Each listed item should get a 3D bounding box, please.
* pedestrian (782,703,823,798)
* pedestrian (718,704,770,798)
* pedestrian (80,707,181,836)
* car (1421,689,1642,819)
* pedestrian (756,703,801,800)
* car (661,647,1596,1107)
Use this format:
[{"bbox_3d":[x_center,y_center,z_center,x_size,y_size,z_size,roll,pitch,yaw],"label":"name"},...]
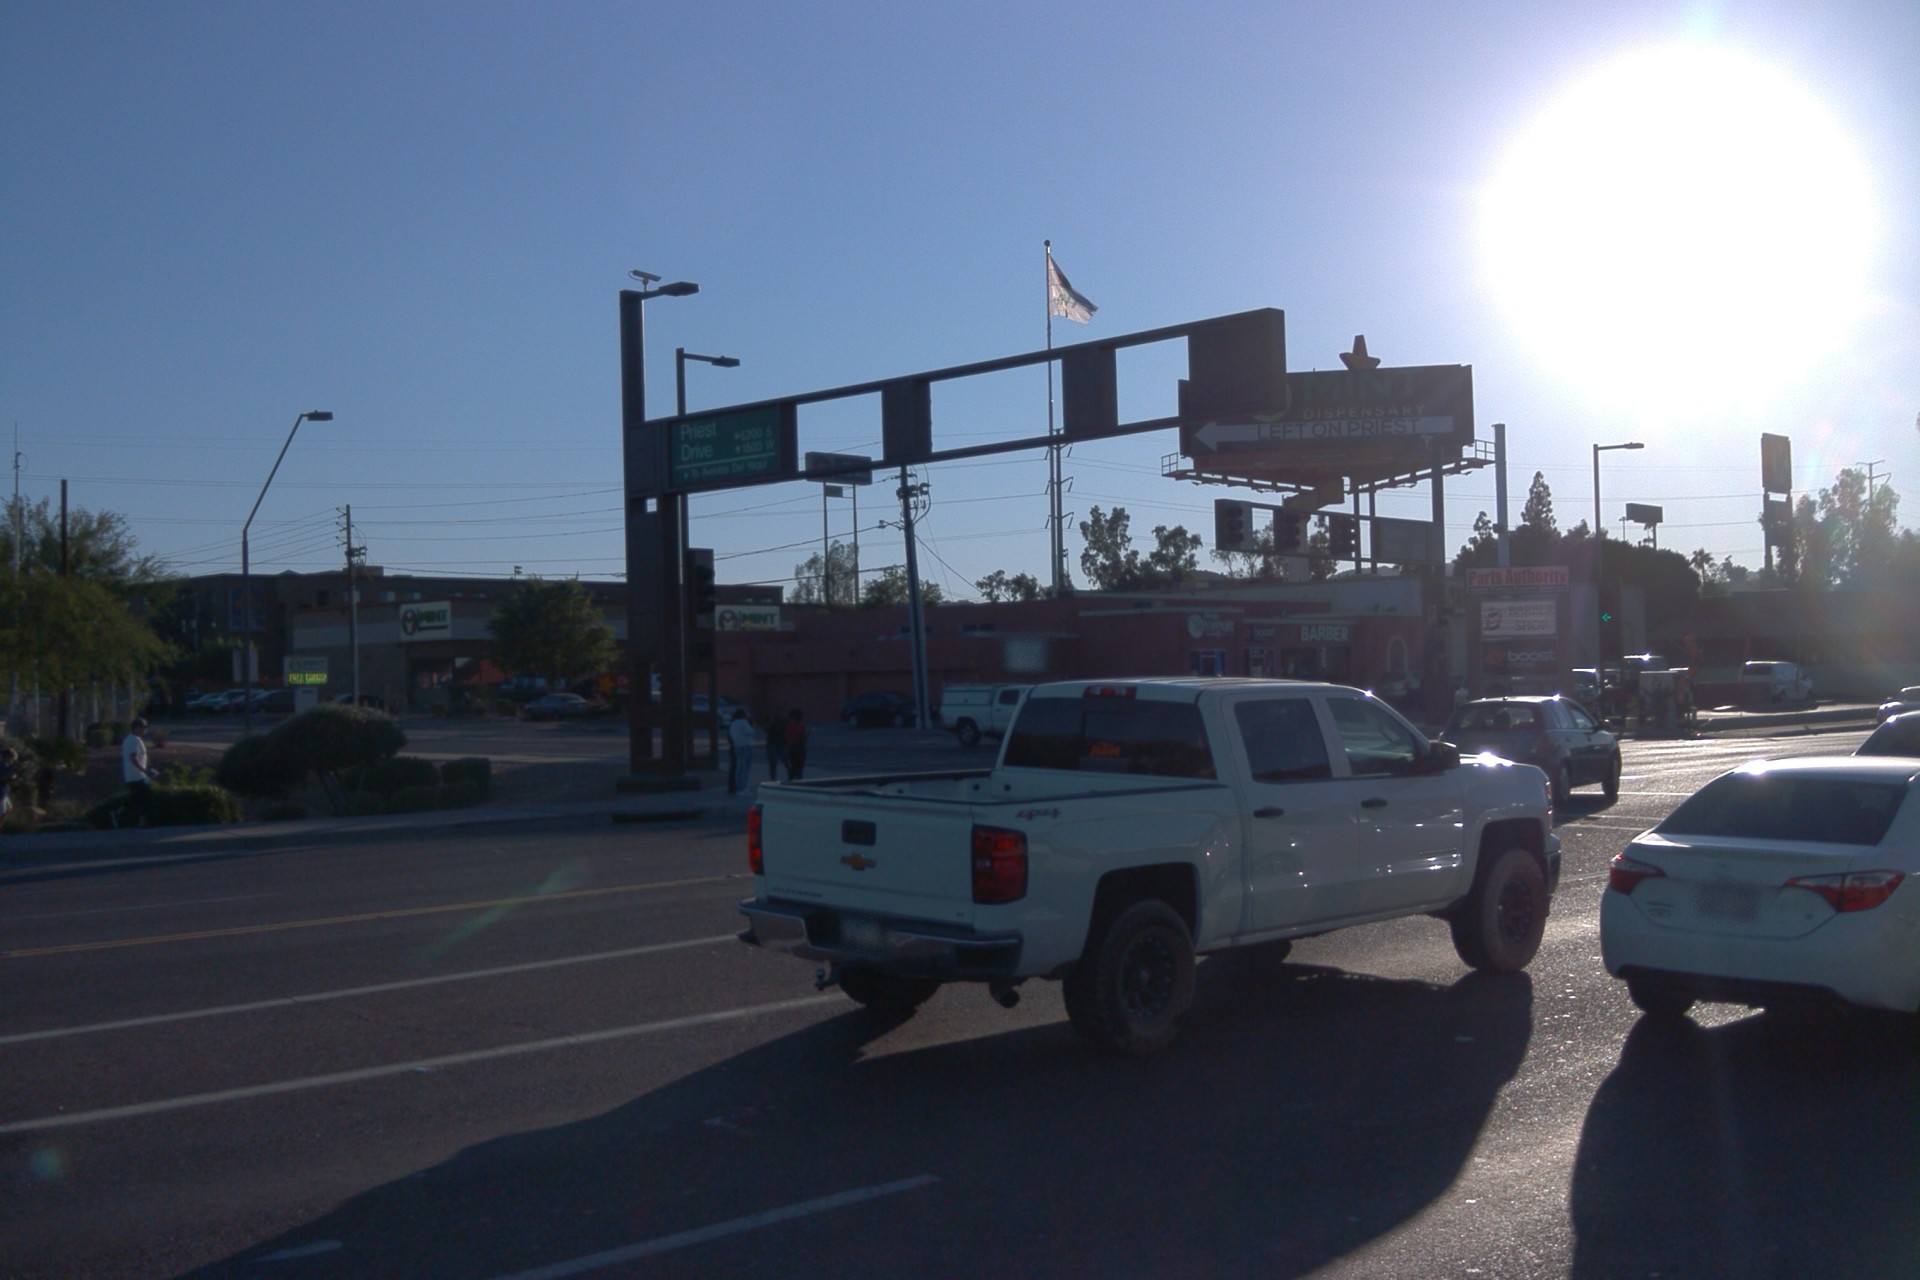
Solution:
[{"bbox_3d":[-2.815,1.959,37.159,0.654,1.660,0.643,0,-1,-10],"label":"pedestrian"},{"bbox_3d":[-3.841,1.957,37.014,0.652,1.640,0.645,-1,-1,34],"label":"pedestrian"},{"bbox_3d":[-11.928,1.869,29.975,1.155,1.776,0.859,0,-1,-38],"label":"pedestrian"},{"bbox_3d":[8.134,1.537,29.386,1.851,1.620,4.281,-1,-1,32],"label":"car"},{"bbox_3d":[-3.297,2.018,37.935,0.722,1.720,0.936,0,-1,0],"label":"pedestrian"},{"bbox_3d":[1.277,1.103,12.422,2.388,2.100,5.786,-1,-1,44],"label":"car"}]
